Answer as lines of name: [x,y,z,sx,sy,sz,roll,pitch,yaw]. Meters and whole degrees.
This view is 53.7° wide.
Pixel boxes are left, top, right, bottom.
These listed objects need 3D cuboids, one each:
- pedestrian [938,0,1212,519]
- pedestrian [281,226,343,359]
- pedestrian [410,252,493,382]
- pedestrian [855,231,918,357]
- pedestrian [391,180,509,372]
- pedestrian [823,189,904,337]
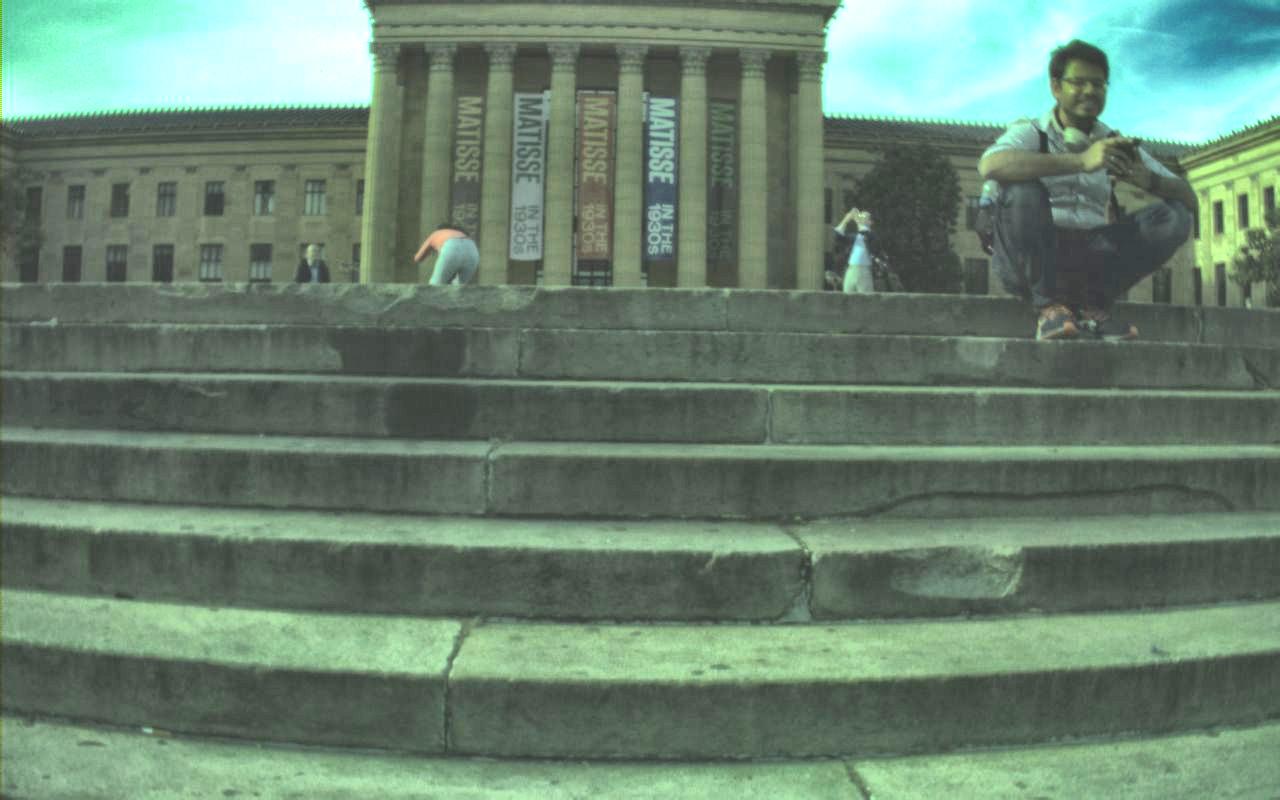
pedestrian: [1.399,-0.500,3.730,0.788,1.659,0.763,1,0,23]
pedestrian: [-4.304,-1.373,16.047,0.787,1.698,0.777,0,0,-15]
pedestrian: [-2.449,-1.053,16.180,0.860,1.624,0.826,0,0,-26]
pedestrian: [3.255,-1.376,16.503,0.777,1.618,0.786,0,0,6]
pedestrian: [-1.789,-1.123,11.697,0.821,1.722,0.776,0,0,-36]
pedestrian: [2.745,-1.647,15.265,0.777,1.750,0.776,1,0,29]
